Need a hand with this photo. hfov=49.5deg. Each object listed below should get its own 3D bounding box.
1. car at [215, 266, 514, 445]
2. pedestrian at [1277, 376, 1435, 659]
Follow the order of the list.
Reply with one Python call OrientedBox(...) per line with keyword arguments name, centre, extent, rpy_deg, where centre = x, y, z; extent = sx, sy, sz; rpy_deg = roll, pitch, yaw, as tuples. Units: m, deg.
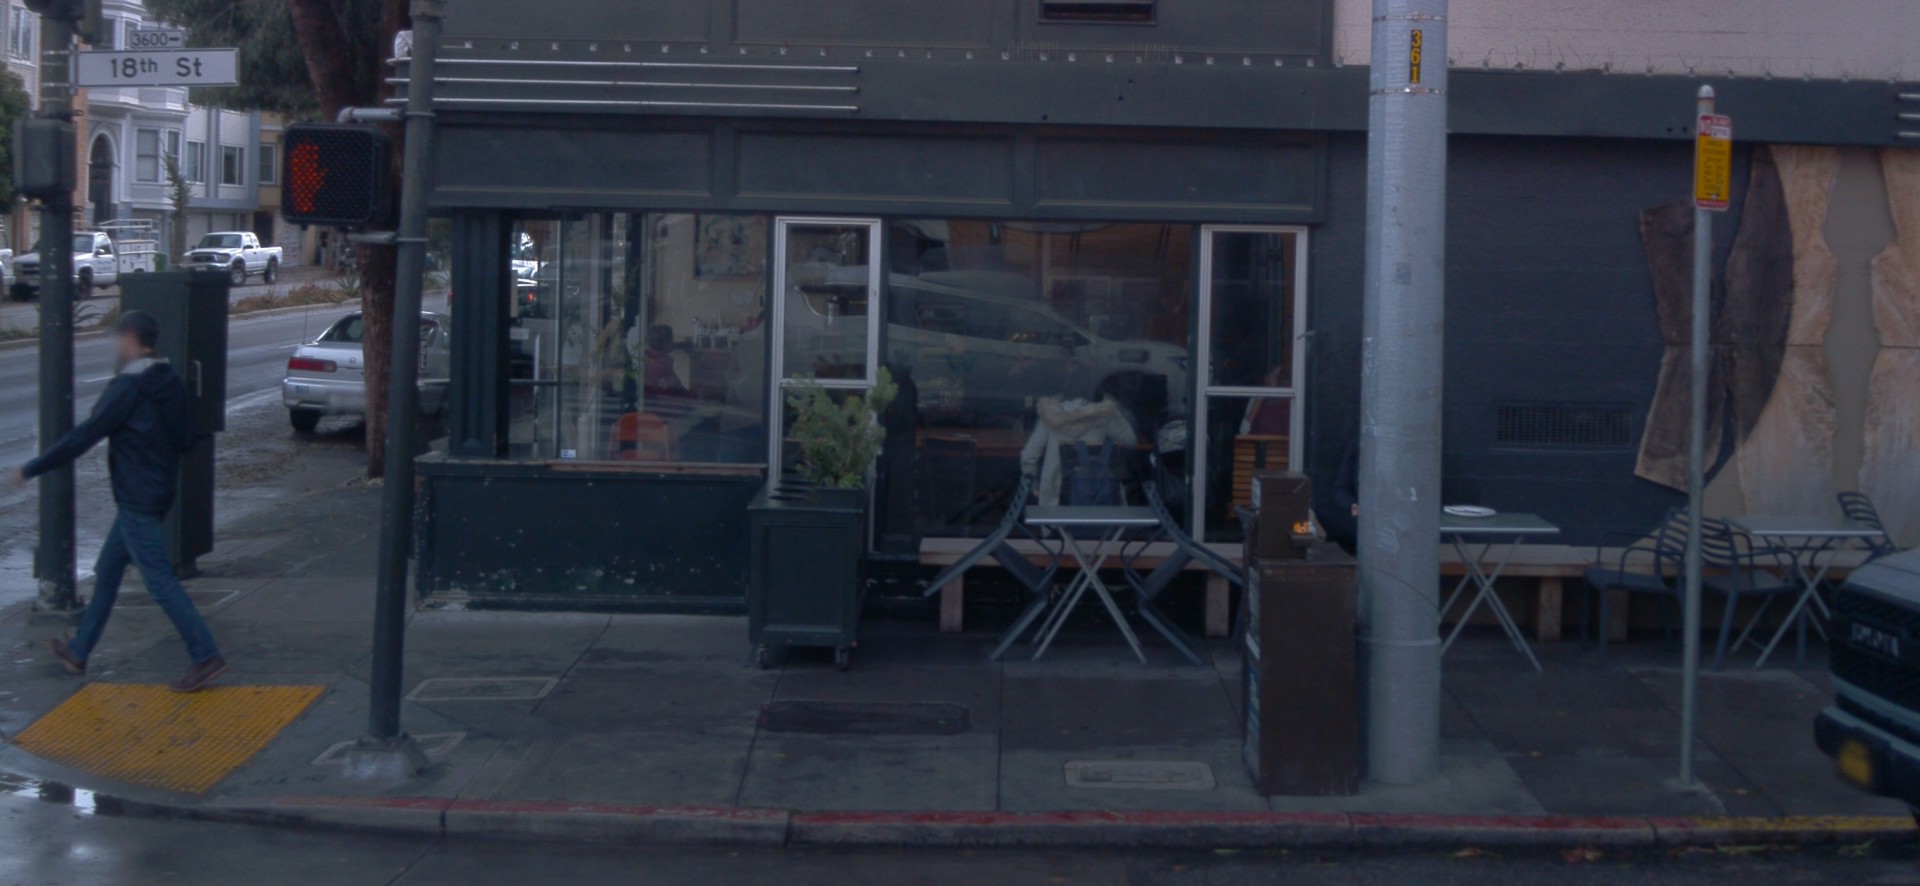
OrientedBox(name="car", centre=(-6.659, -1.098, 23.800), extent=(2.017, 1.784, 4.399), rpy_deg=(1, 5, 2))
OrientedBox(name="pedestrian", centre=(2.089, 0.371, 11.036), extent=(0.772, 1.400, 0.652), rpy_deg=(1, 1, 7))
